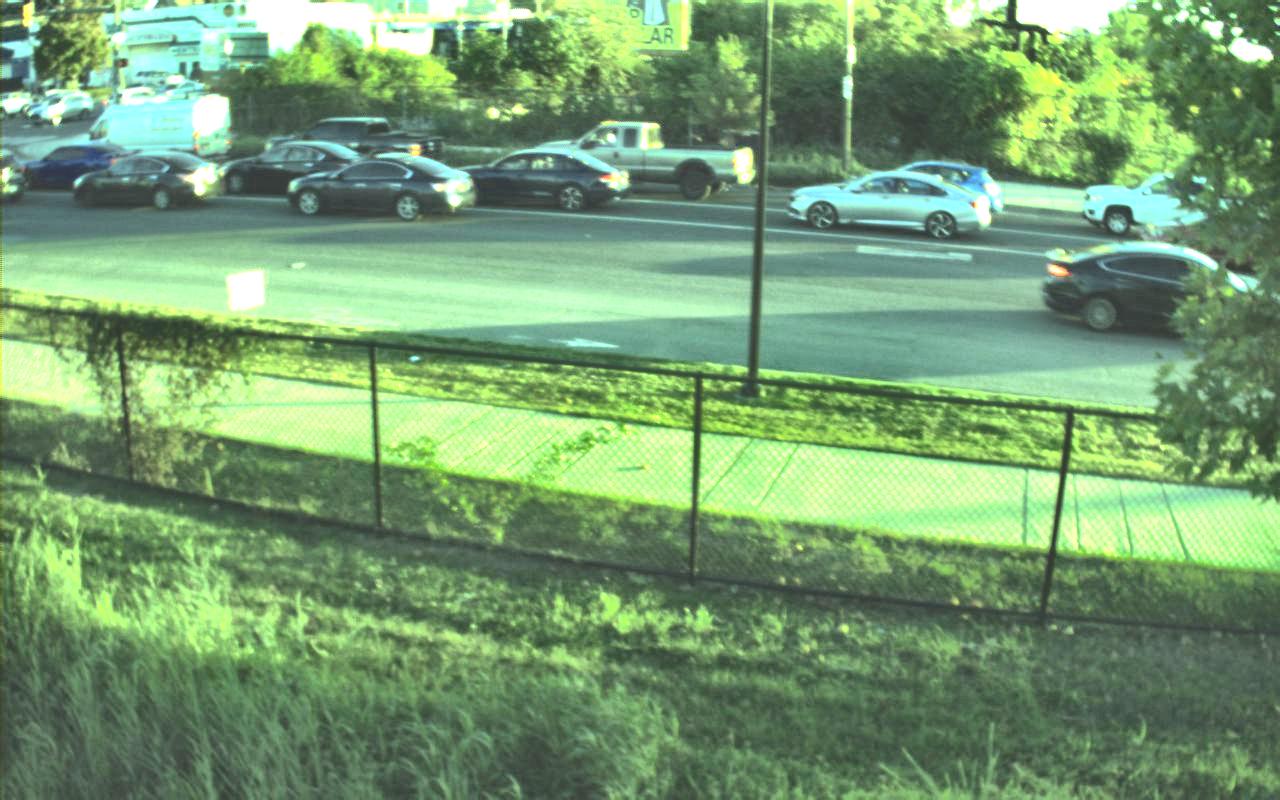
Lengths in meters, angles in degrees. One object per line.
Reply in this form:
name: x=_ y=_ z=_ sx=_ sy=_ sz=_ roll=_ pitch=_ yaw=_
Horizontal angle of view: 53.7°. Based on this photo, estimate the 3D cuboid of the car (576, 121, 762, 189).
car: x=0.842 y=-6.834 z=34.696 sx=4.774 sy=1.641 sz=2.028 roll=4 pitch=16 yaw=16

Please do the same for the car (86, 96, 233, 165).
car: x=-16.257 y=-8.985 z=39.123 sx=4.857 sy=1.879 sz=2.125 roll=2 pitch=16 yaw=12

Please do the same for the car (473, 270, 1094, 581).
car: x=1.304 y=0.081 z=10.502 sx=4.830 sy=1.761 sz=2.131 roll=4 pitch=16 yaw=18

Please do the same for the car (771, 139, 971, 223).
car: x=5.571 y=-5.244 z=29.471 sx=4.652 sy=1.633 sz=2.015 roll=3 pitch=16 yaw=15
